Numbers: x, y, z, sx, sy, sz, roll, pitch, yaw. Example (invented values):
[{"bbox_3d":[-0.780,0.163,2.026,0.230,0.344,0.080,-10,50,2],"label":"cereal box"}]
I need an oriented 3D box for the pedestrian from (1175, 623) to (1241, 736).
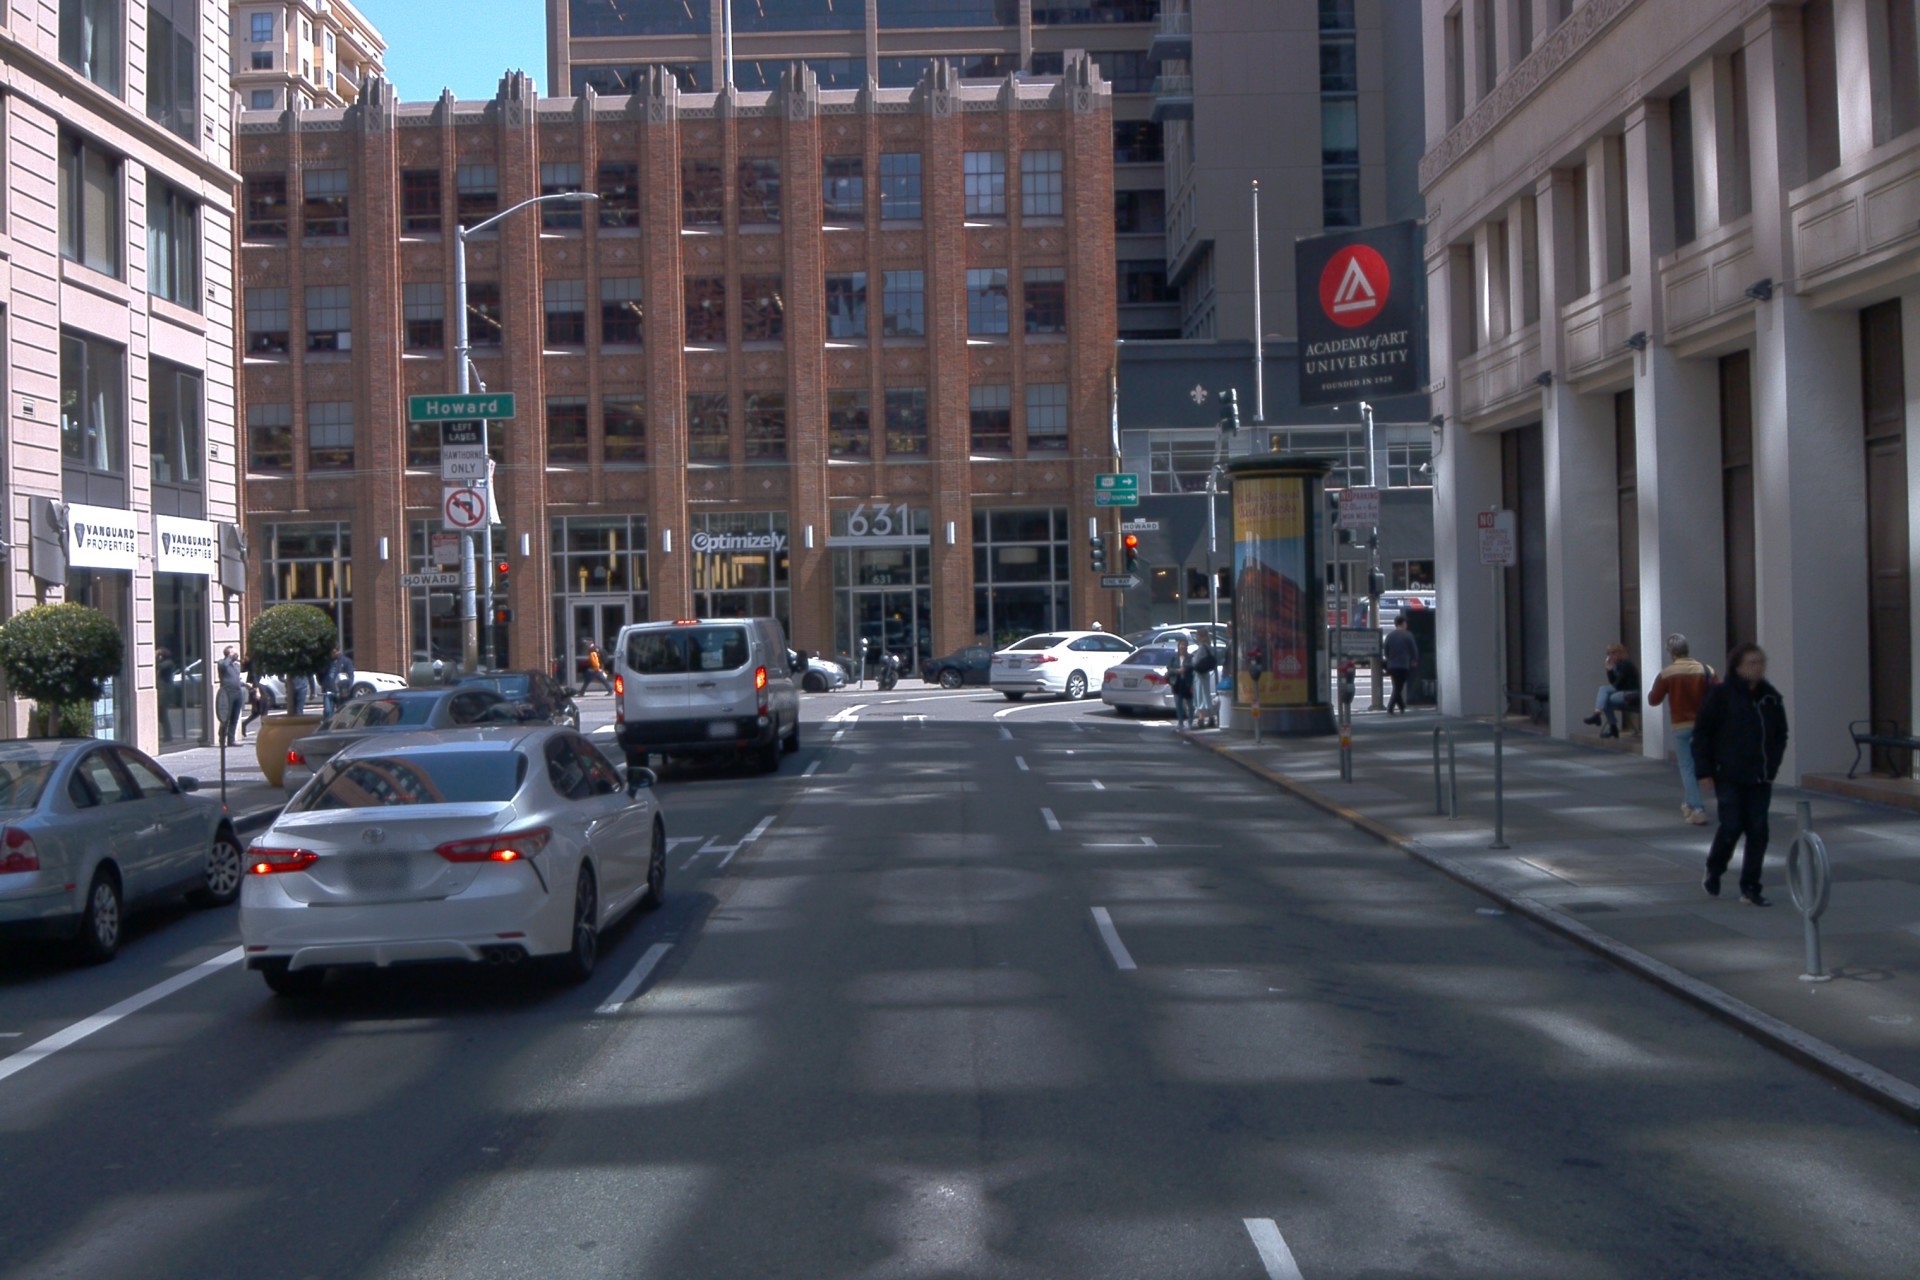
[{"bbox_3d":[4.189,0.654,34.756,0.945,1.870,0.617,0,1,29],"label":"pedestrian"}]

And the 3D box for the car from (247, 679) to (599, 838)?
[{"bbox_3d":[-6.087,1.289,23.991,1.954,1.500,4.733,0,1,14],"label":"car"}]

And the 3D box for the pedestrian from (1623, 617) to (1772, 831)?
[{"bbox_3d":[6.560,0.720,18.349,0.898,1.846,1.140,0,1,-1],"label":"pedestrian"}]

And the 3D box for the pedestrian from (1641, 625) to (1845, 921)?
[{"bbox_3d":[5.204,0.845,13.738,0.898,1.886,1.186,0,1,0],"label":"pedestrian"}]

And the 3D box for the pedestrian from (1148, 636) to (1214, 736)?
[{"bbox_3d":[3.831,0.776,35.608,0.801,1.690,0.885,0,1,37],"label":"pedestrian"}]

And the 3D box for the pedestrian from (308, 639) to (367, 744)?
[{"bbox_3d":[-10.508,0.857,34.726,0.761,1.736,0.900,0,1,-3],"label":"pedestrian"}]

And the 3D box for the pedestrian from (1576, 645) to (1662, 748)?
[{"bbox_3d":[8.641,0.736,26.981,0.907,1.330,0.658,0,1,1],"label":"pedestrian"}]

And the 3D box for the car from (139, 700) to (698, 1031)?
[{"bbox_3d":[-3.121,1.240,13.155,2.215,1.500,5.056,0,1,0],"label":"car"}]

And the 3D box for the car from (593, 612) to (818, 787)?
[{"bbox_3d":[-3.402,0.711,28.753,2.374,2.200,5.787,0,1,1],"label":"car"}]

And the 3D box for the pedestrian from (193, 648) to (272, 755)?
[{"bbox_3d":[-11.957,0.997,33.802,0.940,1.726,0.775,0,1,12],"label":"pedestrian"}]

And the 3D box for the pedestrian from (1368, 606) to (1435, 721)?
[{"bbox_3d":[7.617,0.387,35.437,0.901,1.956,1.135,0,1,25],"label":"pedestrian"}]
